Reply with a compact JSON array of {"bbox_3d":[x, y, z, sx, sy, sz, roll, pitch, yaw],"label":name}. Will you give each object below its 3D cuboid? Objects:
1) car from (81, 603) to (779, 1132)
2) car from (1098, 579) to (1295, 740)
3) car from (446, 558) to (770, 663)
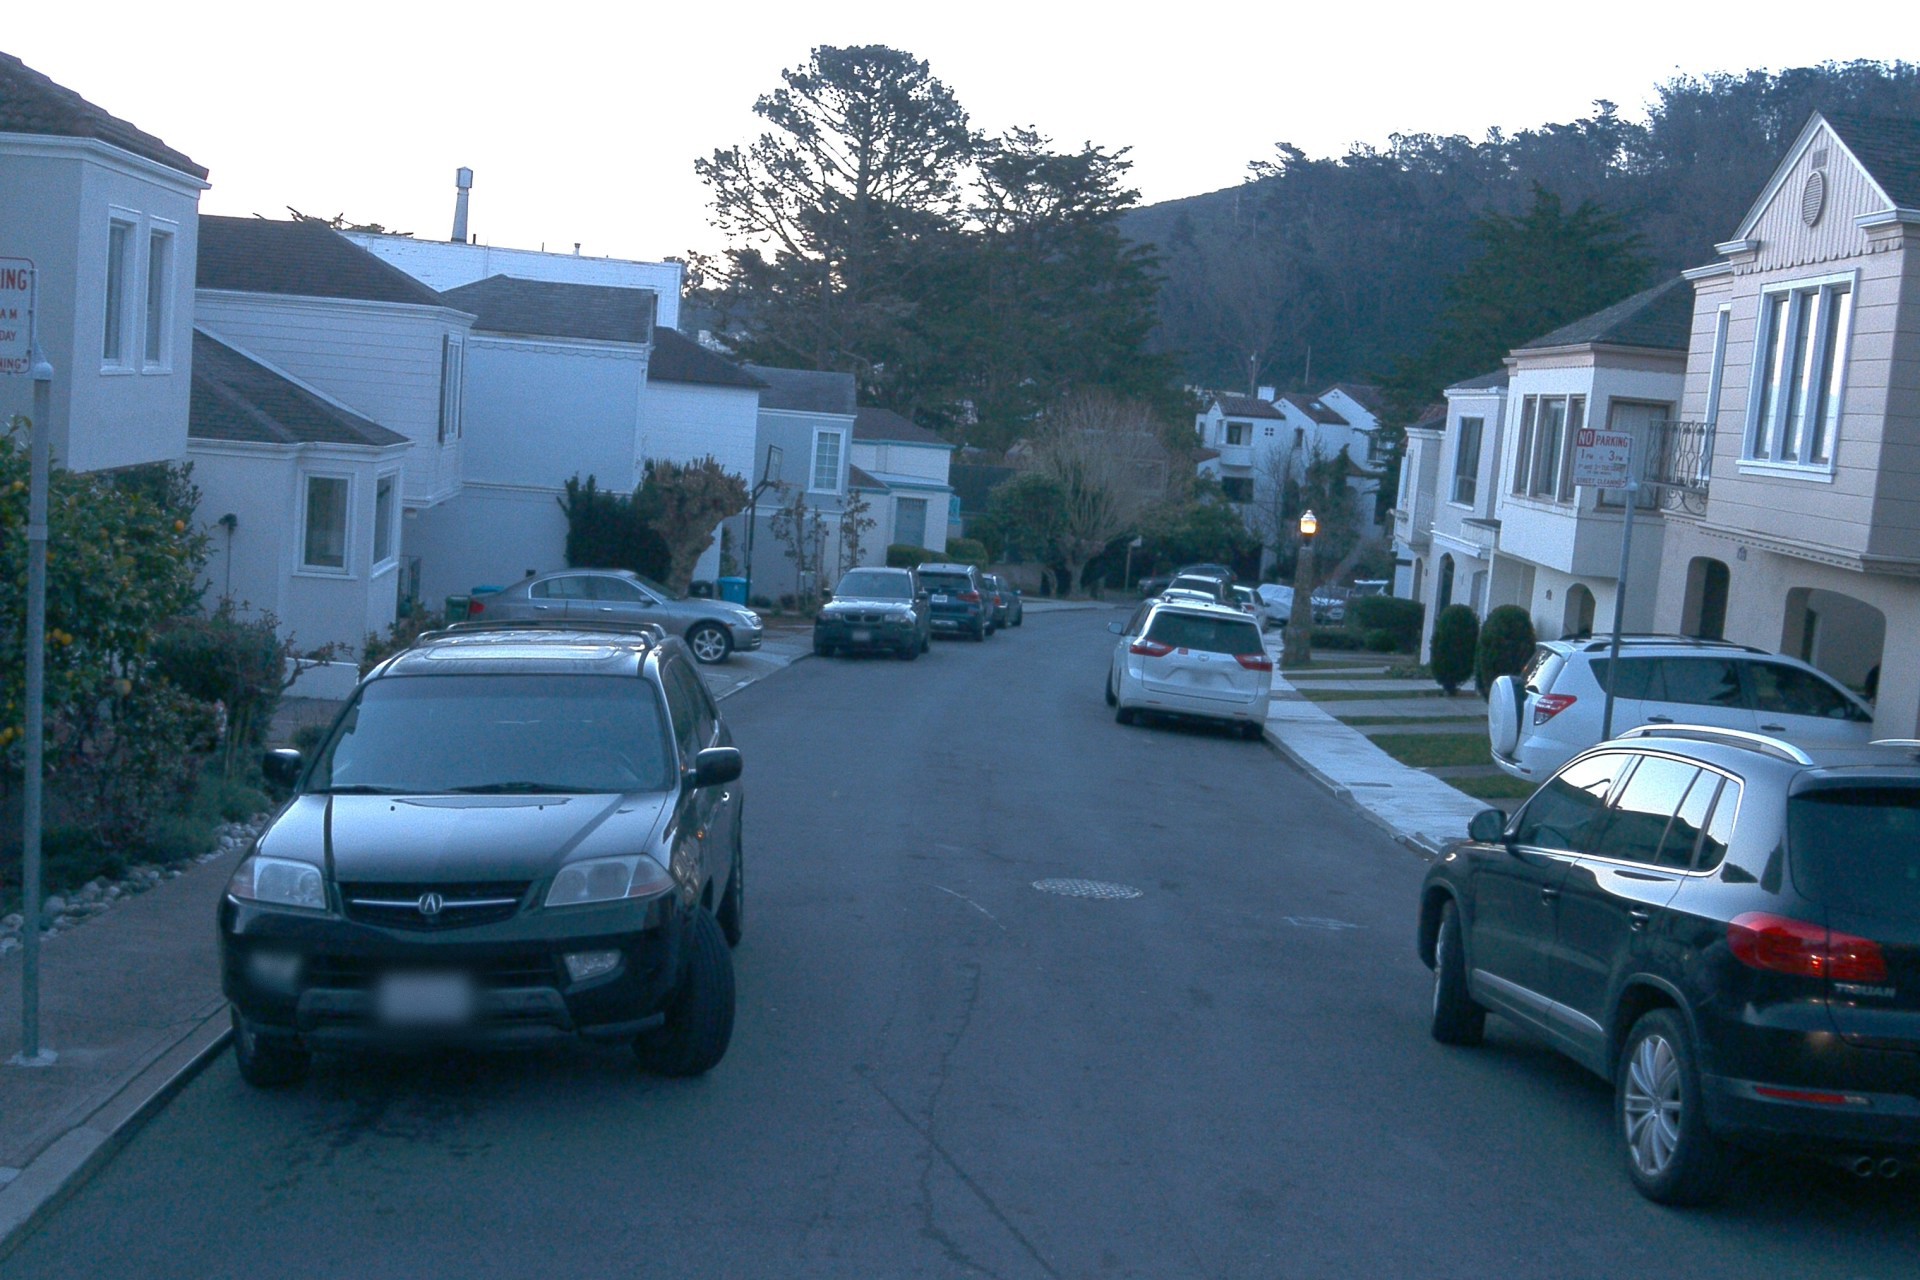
[{"bbox_3d":[-2.119,0.804,9.930,2.326,1.880,4.864,0,0,-3],"label":"car"},{"bbox_3d":[3.192,0.240,29.040,2.374,2.050,5.078,0,0,2],"label":"car"},{"bbox_3d":[-5.477,-0.456,32.751,4.769,1.580,1.989,0,0,-1],"label":"car"}]
